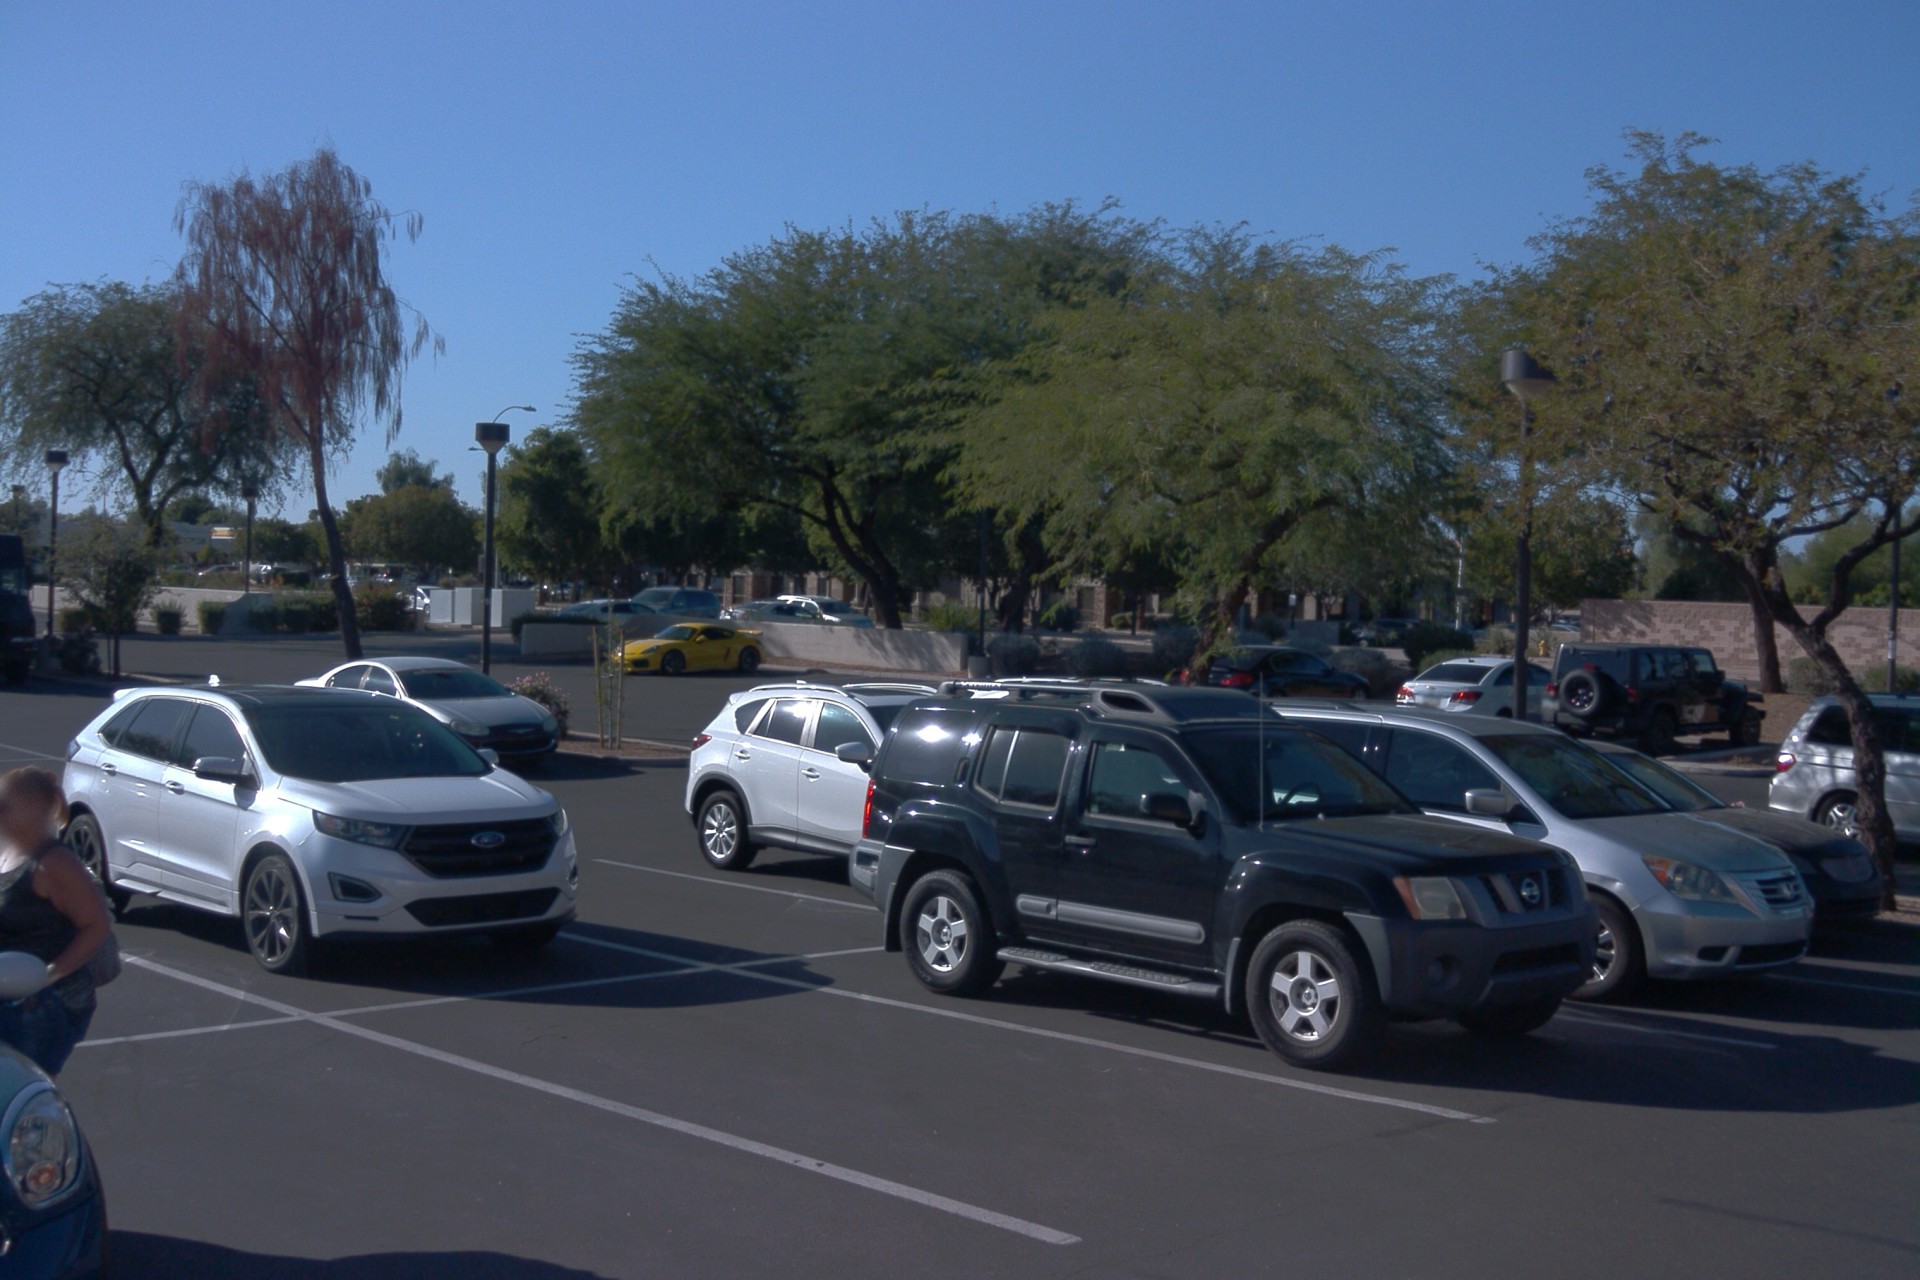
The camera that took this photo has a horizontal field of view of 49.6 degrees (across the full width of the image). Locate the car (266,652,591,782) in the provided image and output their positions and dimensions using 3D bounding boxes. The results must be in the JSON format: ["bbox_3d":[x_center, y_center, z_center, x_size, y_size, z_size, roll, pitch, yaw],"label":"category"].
[{"bbox_3d":[-7.530,1.004,29.102,2.114,1.600,5.046,1,0,-45],"label":"car"}]

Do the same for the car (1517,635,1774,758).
[{"bbox_3d":[11.548,0.904,34.818,4.751,1.910,2.026,1,0,-43],"label":"car"}]

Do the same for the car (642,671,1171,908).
[{"bbox_3d":[-0.574,1.176,18.161,2.160,1.720,4.434,1,0,-44],"label":"car"}]

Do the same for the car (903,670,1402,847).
[{"bbox_3d":[1.782,1.070,20.457,2.057,1.460,4.663,1,0,-44],"label":"car"}]

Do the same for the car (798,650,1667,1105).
[{"bbox_3d":[1.374,1.118,12.047,2.178,2.050,4.676,1,0,-42],"label":"car"}]

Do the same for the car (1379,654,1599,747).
[{"bbox_3d":[9.291,1.028,36.334,3.932,1.500,1.889,1,0,-43],"label":"car"}]

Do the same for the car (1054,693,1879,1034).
[{"bbox_3d":[3.305,1.331,14.275,5.039,1.780,2.248,1,0,43],"label":"car"}]

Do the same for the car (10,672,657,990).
[{"bbox_3d":[-4.424,1.124,14.232,4.659,1.720,2.253,1,0,44],"label":"car"}]
